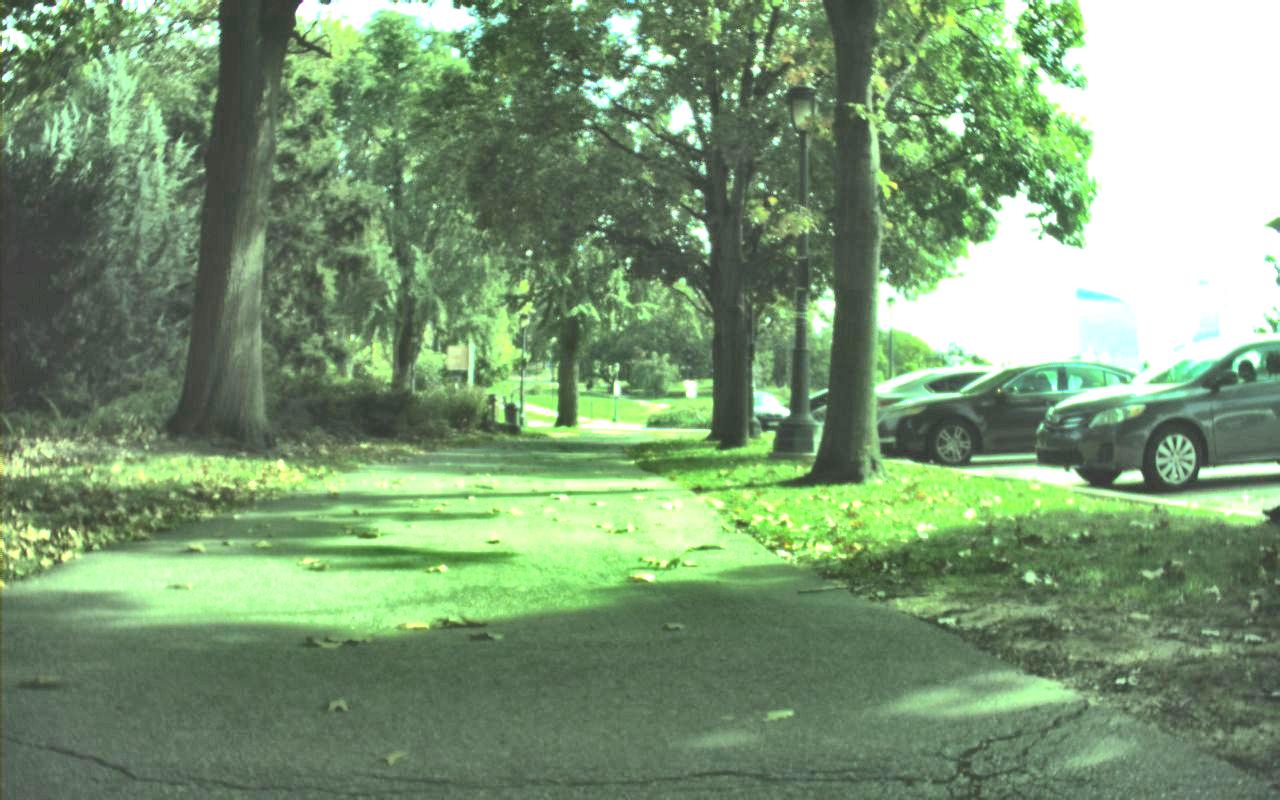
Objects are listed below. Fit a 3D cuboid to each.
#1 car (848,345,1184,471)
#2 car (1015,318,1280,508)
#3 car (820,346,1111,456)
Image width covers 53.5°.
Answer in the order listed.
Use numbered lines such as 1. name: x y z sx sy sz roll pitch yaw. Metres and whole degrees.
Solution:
1. car: 5.271 0.094 17.151 4.455 1.616 1.978 0 1 -4
2. car: 5.998 0.113 11.357 4.400 1.605 1.955 0 1 -7
3. car: 5.329 0.007 20.296 4.501 1.680 1.986 0 1 -5
